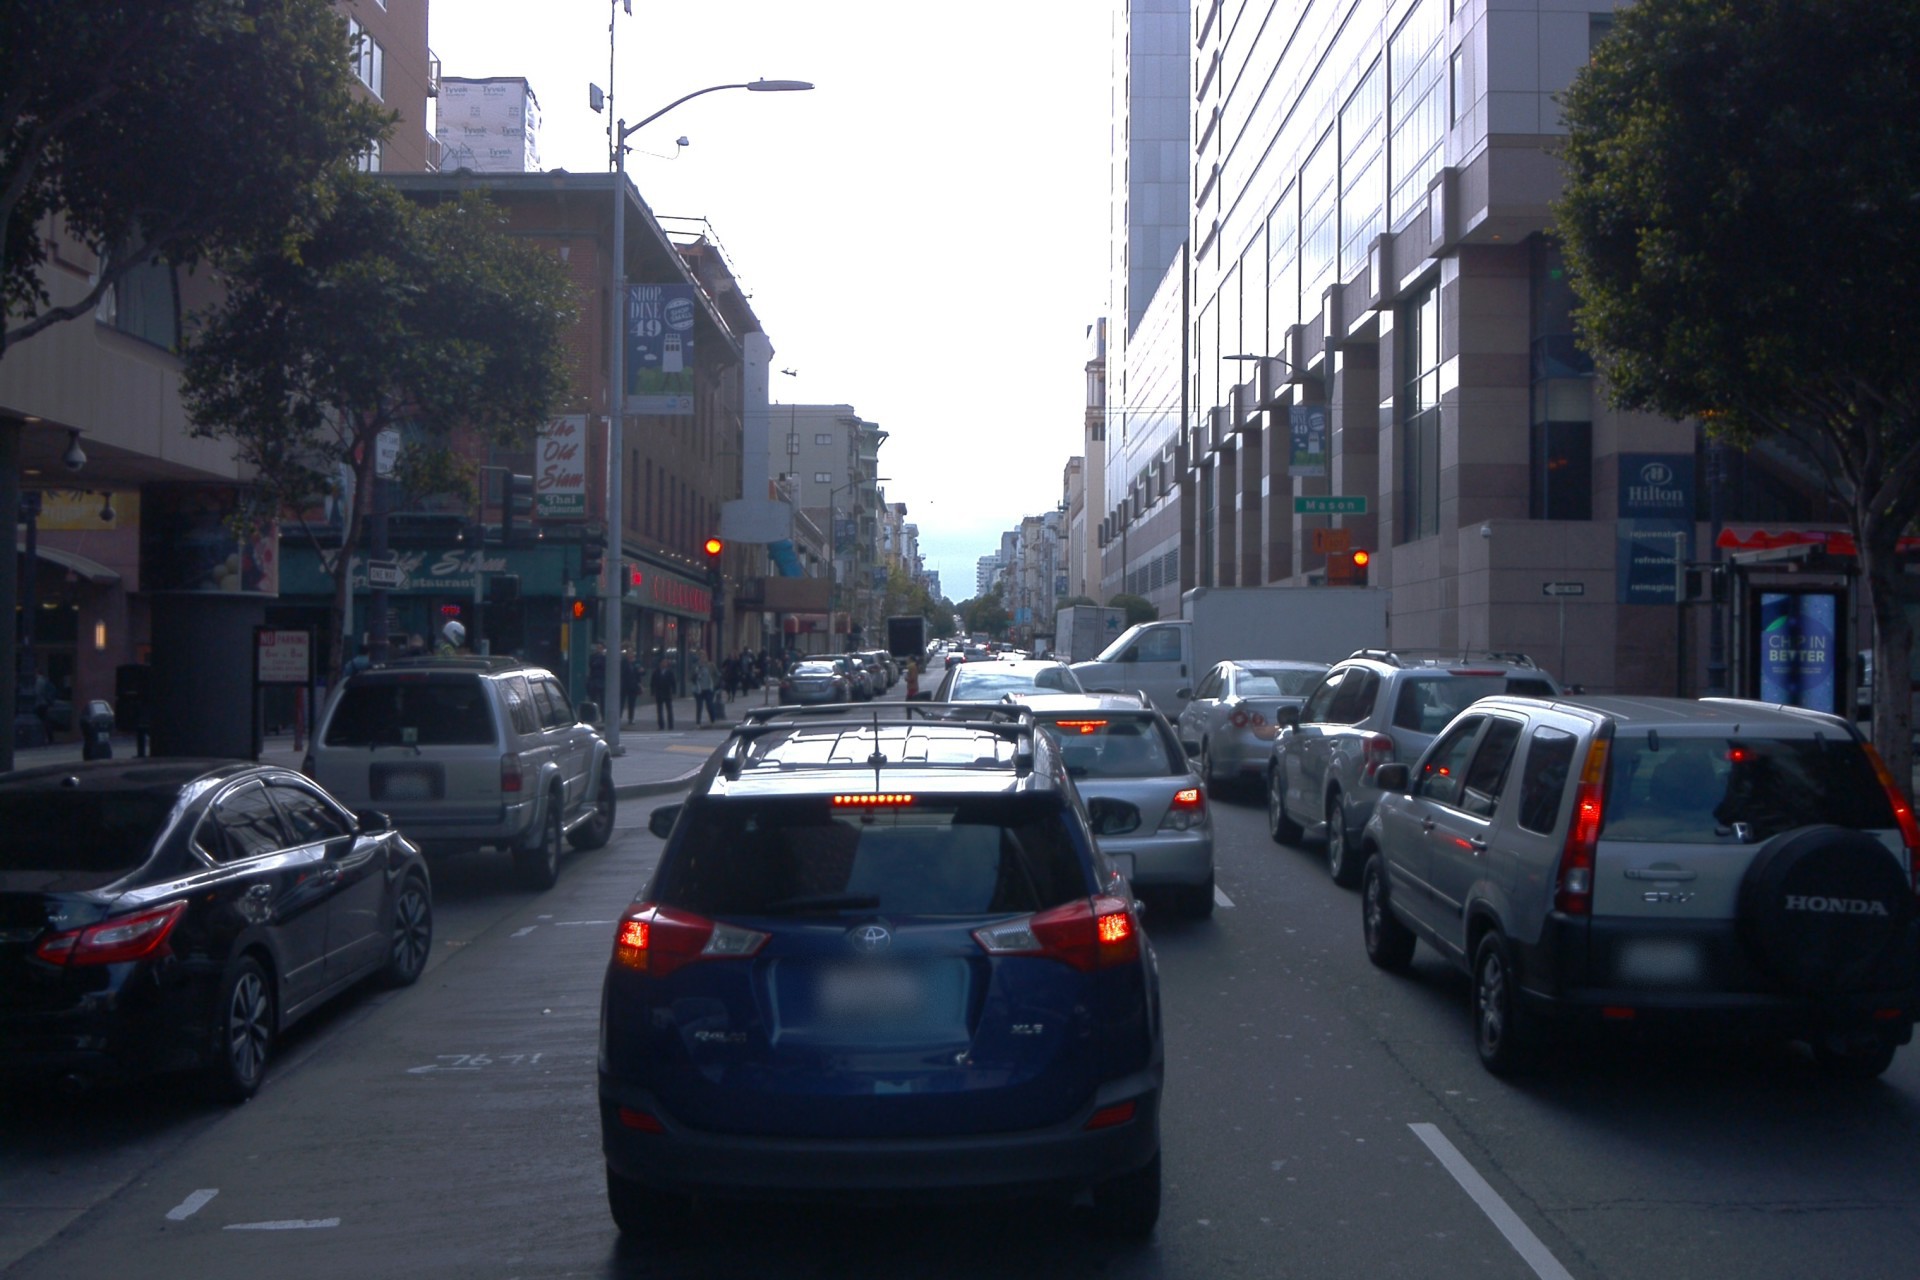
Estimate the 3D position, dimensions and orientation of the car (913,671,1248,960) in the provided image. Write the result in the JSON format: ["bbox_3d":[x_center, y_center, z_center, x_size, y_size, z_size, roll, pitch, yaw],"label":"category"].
[{"bbox_3d":[0.787,1.104,14.864,2.030,1.630,4.708,0,1,1],"label":"car"}]

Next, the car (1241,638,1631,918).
[{"bbox_3d":[3.605,0.953,16.520,2.029,1.870,4.664,0,1,0],"label":"car"}]

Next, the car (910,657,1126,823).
[{"bbox_3d":[0.506,0.980,22.109,2.074,1.500,4.589,0,1,-1],"label":"car"}]

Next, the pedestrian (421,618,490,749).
[{"bbox_3d":[-7.355,0.617,29.977,0.708,1.880,0.658,0,1,29],"label":"pedestrian"}]

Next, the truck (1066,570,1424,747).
[{"bbox_3d":[4.749,0.298,34.981,5.804,2.890,2.235,0,1,2],"label":"truck"}]

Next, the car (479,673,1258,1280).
[{"bbox_3d":[-0.277,1.113,8.059,2.184,1.830,4.555,0,1,0],"label":"car"}]

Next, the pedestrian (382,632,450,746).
[{"bbox_3d":[-8.044,0.709,30.418,0.779,1.650,0.864,0,1,0],"label":"pedestrian"}]

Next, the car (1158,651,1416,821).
[{"bbox_3d":[3.484,0.969,22.855,2.063,1.590,4.797,0,1,0],"label":"car"}]

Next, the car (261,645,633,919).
[{"bbox_3d":[-4.039,1.020,17.054,1.995,1.880,4.690,0,1,-1],"label":"car"}]
